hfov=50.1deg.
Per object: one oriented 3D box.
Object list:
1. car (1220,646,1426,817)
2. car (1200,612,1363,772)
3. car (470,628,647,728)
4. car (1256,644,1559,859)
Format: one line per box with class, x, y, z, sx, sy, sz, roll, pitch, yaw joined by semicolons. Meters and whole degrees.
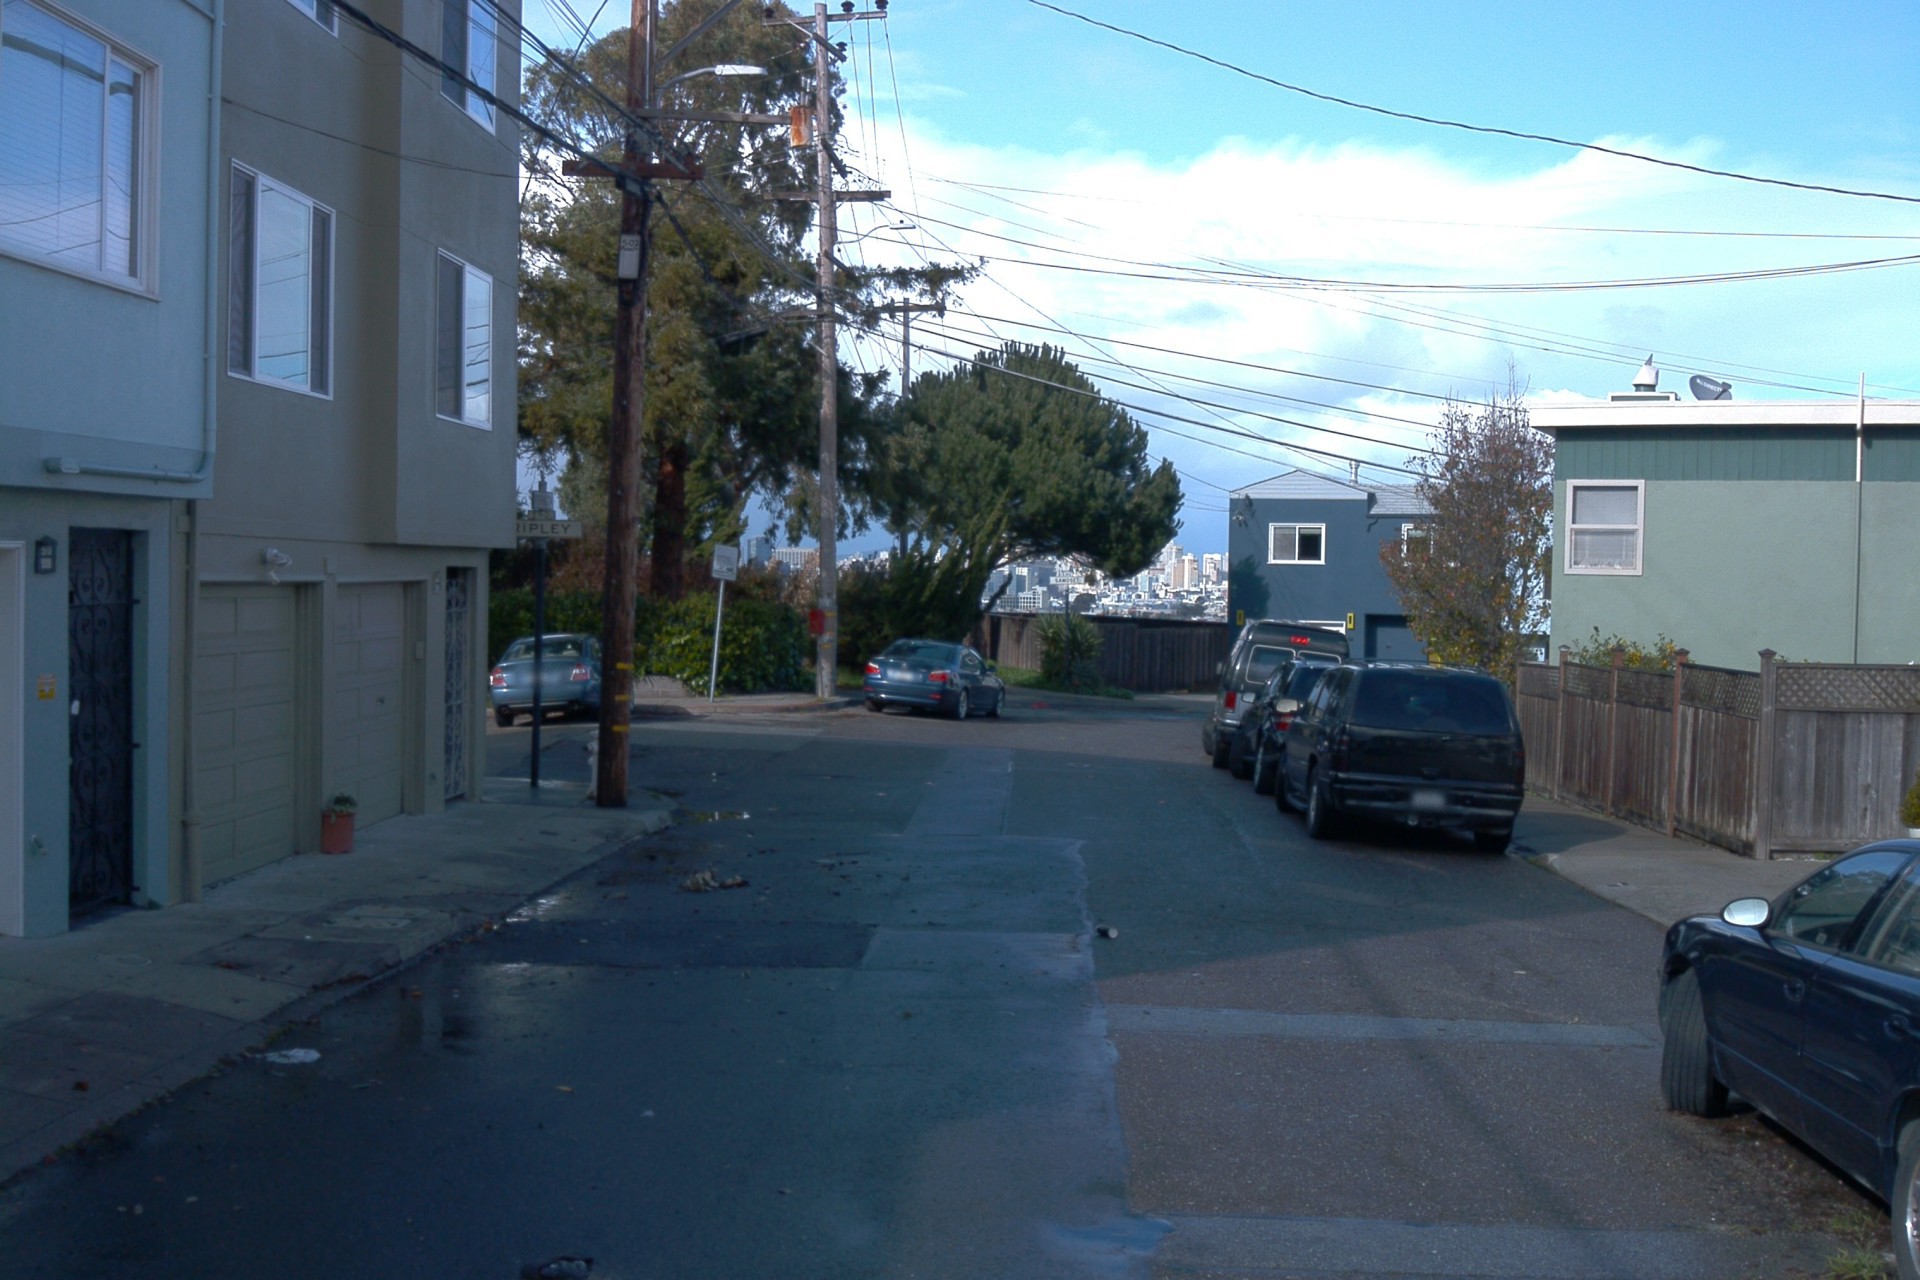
car;4.710;1.120;27.372;2.071;1.960;4.716;1;1;3
car;5.020;0.722;32.827;2.287;2.280;5.497;1;1;6
car;-6.465;0.567;33.602;1.906;1.450;4.515;1;1;1
car;4.565;1.051;21.867;2.281;1.880;5.115;1;1;3
